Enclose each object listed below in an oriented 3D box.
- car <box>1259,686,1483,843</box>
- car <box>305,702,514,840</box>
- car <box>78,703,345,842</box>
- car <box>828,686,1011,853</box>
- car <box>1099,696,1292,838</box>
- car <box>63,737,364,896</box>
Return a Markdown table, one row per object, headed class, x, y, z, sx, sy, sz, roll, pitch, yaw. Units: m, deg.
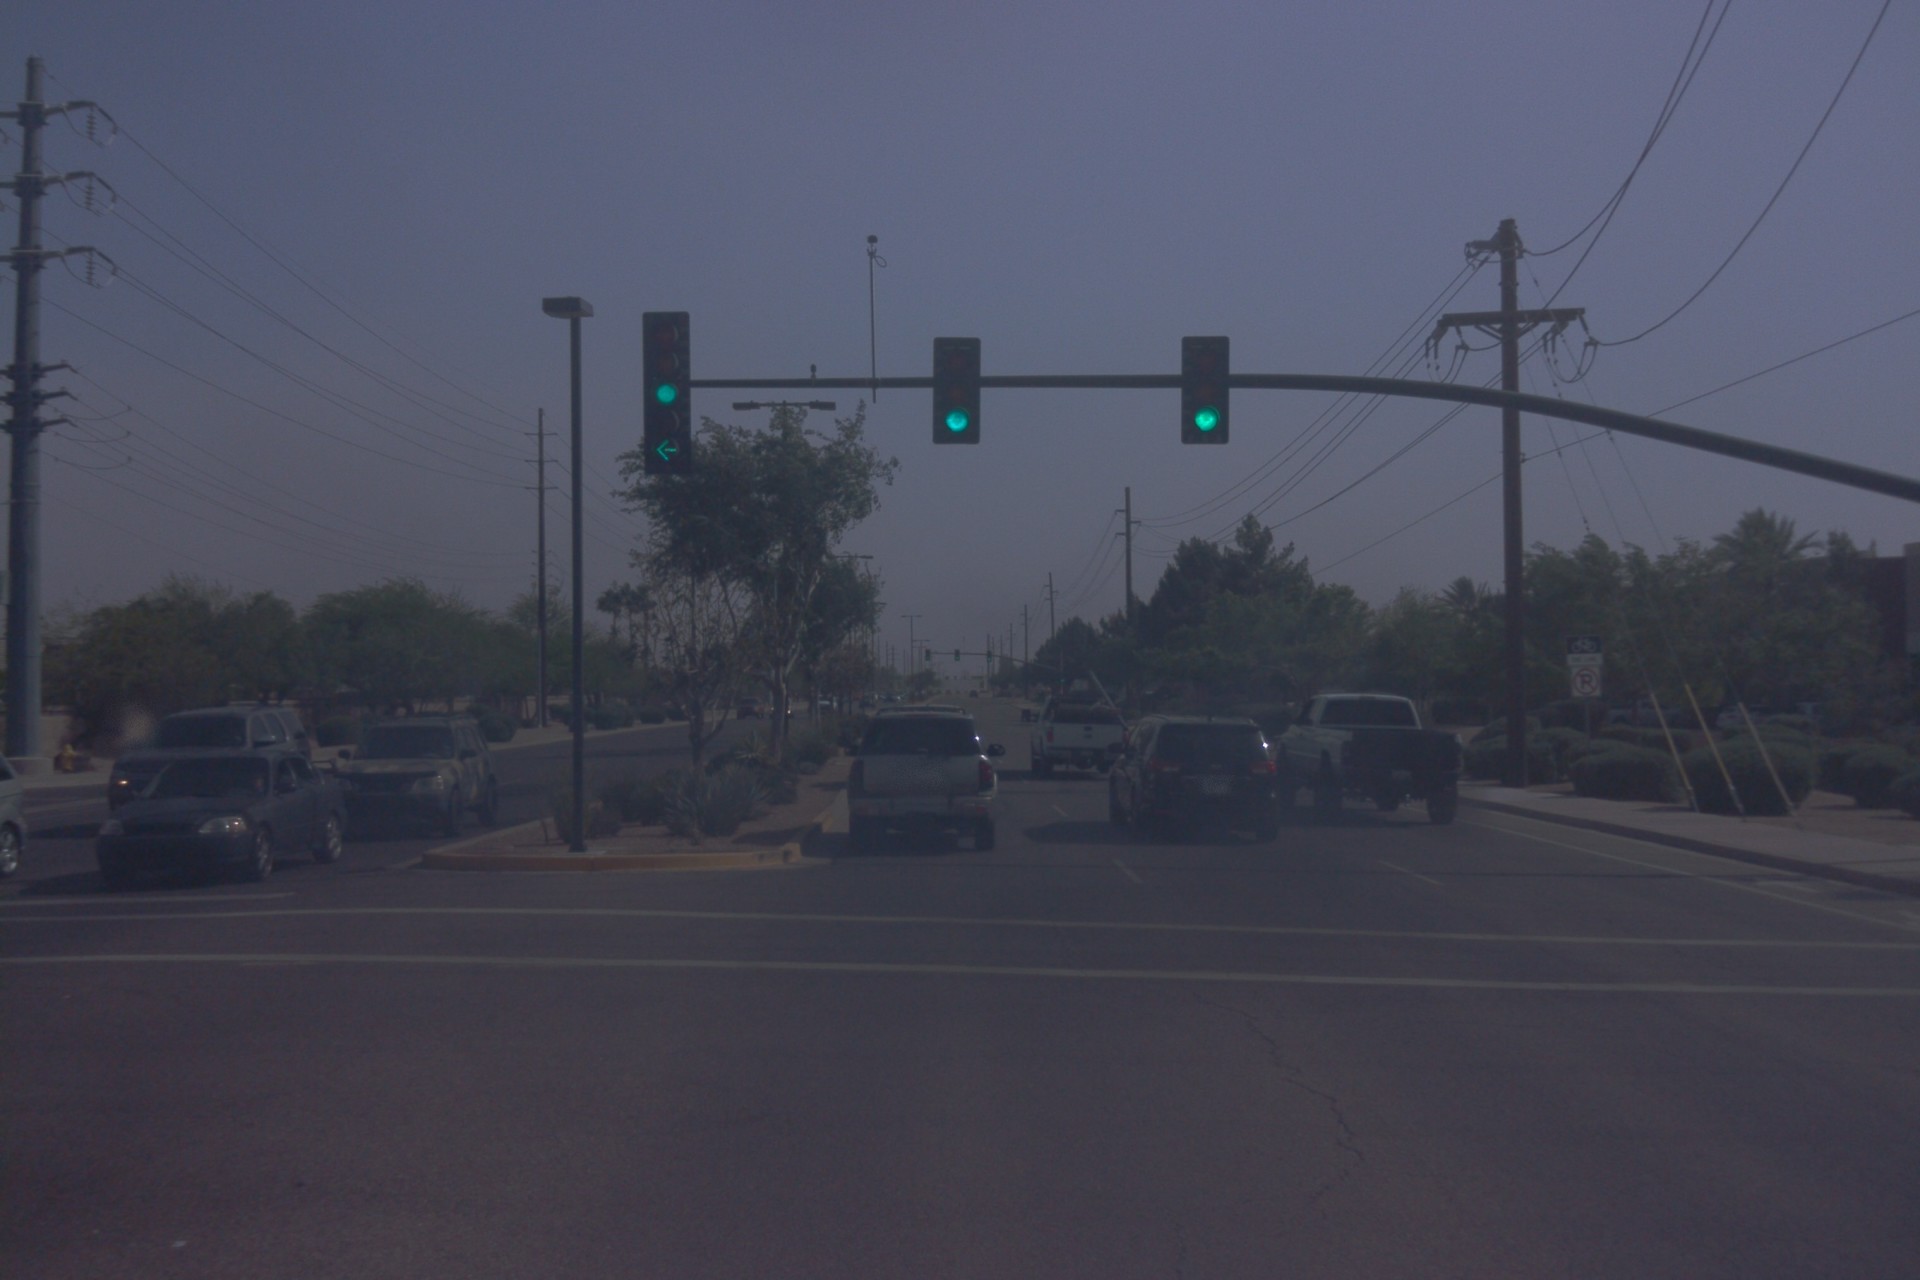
| class | x | y | z | sx | sy | sz | roll | pitch | yaw |
| --- | --- | --- | --- | --- | --- | --- | --- | --- | --- |
| car | 6.849 | 2.004 | 35.568 | 2.415 | 2.350 | 6.497 | 0 | -1 | -1 |
| car | -7.993 | 1.859 | 30.649 | 2.026 | 1.790 | 4.404 | 0 | -1 | -2 |
| car | -12.046 | 2.074 | 33.991 | 2.388 | 1.970 | 5.468 | 0 | -1 | 0 |
| car | -0.488 | 1.615 | 27.540 | 2.201 | 1.960 | 4.684 | 0 | -1 | 0 |
| car | 3.306 | 1.759 | 30.188 | 2.145 | 1.800 | 4.884 | 0 | -1 | -1 |
| car | -8.250 | 1.904 | 23.463 | 1.850 | 1.450 | 4.516 | 0 | -1 | -1 |
